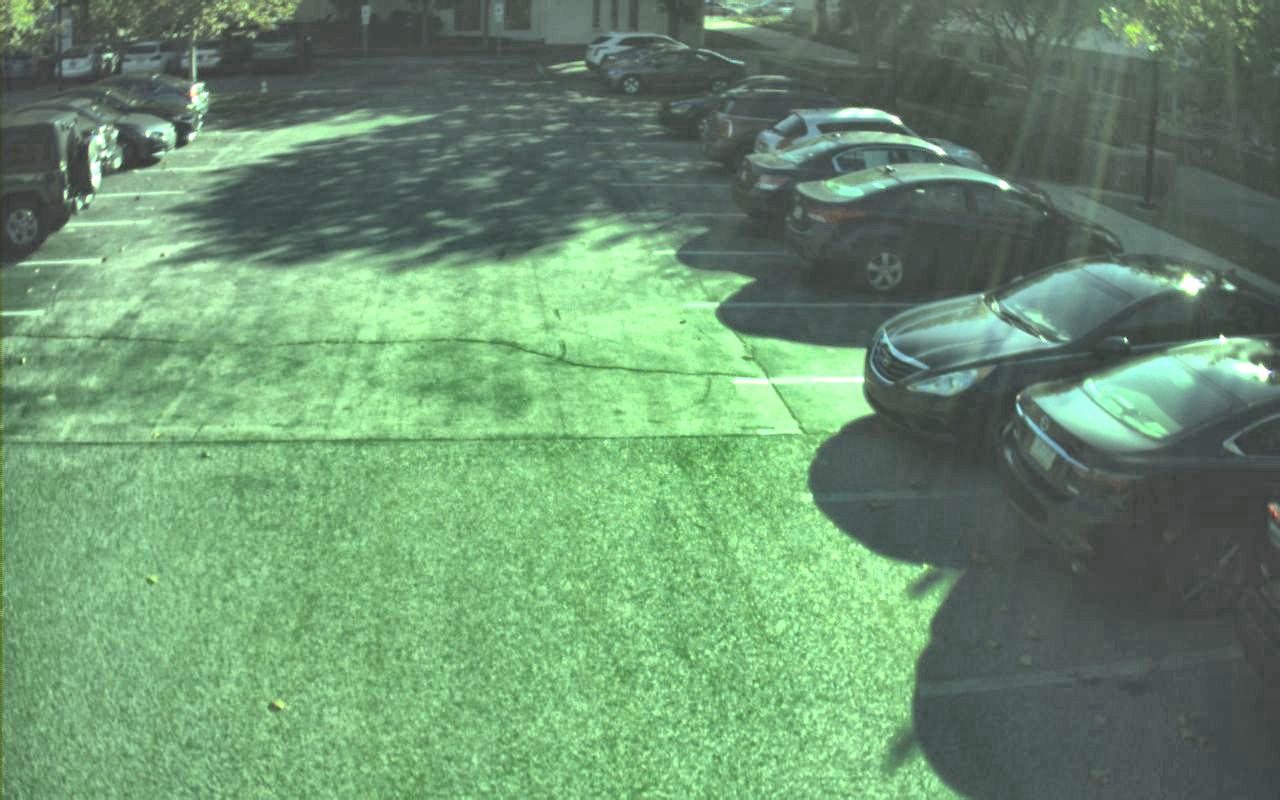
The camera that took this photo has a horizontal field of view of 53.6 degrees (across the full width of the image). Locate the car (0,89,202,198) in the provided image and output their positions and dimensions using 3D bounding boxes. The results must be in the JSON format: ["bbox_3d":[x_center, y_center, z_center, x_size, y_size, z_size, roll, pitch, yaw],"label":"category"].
[{"bbox_3d":[-11.214,-5.195,23.193,4.436,1.632,1.952,-4,16,-9],"label":"car"}]

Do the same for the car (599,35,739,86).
[{"bbox_3d":[0.956,-11.586,42.080,4.482,1.642,1.971,-4,16,-9],"label":"car"}]

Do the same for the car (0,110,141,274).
[{"bbox_3d":[-9.689,-3.025,16.120,4.613,1.741,2.014,-4,16,-9],"label":"car"}]

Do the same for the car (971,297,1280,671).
[{"bbox_3d":[4.608,0.375,7.810,4.348,1.572,1.924,-5,17,-12],"label":"car"}]

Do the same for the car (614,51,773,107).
[{"bbox_3d":[1.576,-9.713,37.403,4.575,1.579,1.979,-3,16,-5],"label":"car"}]

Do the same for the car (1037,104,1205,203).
[{"bbox_3d":[10.471,-5.435,25.789,2.009,1.619,4.665,-2,17,-5],"label":"car"}]

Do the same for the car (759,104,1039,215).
[{"bbox_3d":[4.233,-3.995,20.186,4.286,1.584,1.911,-3,16,-7],"label":"car"}]

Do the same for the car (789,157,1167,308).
[{"bbox_3d":[4.176,-2.142,15.098,4.417,1.514,1.920,-3,16,-5],"label":"car"}]

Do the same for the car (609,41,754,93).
[{"bbox_3d":[1.299,-10.709,39.620,4.336,1.564,1.928,-4,16,-9],"label":"car"}]

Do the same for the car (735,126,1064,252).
[{"bbox_3d":[3.685,-3.079,17.634,4.426,1.527,1.926,-3,16,-5],"label":"car"}]

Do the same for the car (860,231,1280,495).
[{"bbox_3d":[4.295,-0.468,10.065,4.579,1.599,1.990,-3,16,-7],"label":"car"}]

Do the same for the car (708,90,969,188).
[{"bbox_3d":[3.604,-4.830,22.631,4.468,1.595,1.957,-3,16,-6],"label":"car"}]
